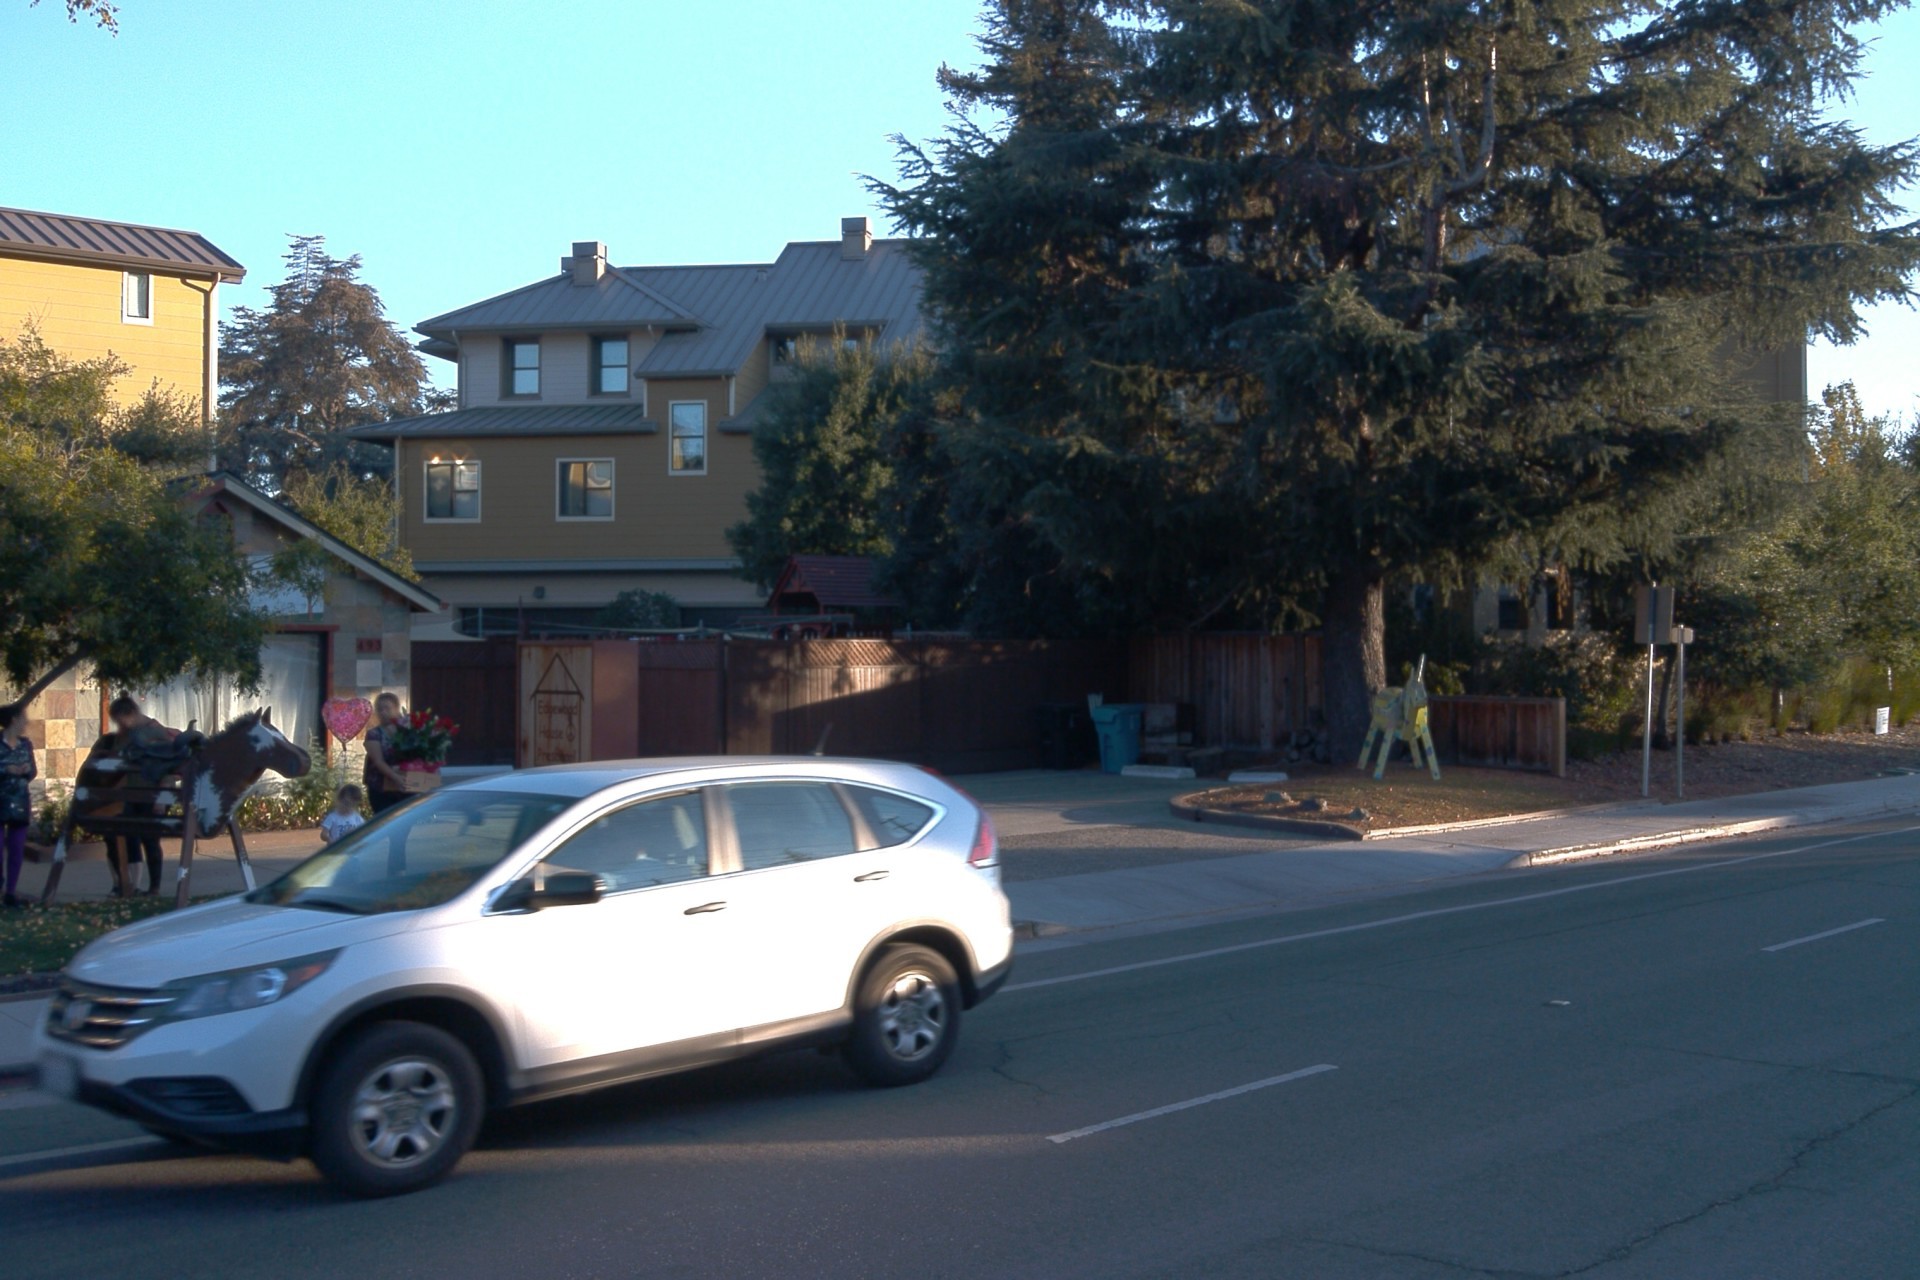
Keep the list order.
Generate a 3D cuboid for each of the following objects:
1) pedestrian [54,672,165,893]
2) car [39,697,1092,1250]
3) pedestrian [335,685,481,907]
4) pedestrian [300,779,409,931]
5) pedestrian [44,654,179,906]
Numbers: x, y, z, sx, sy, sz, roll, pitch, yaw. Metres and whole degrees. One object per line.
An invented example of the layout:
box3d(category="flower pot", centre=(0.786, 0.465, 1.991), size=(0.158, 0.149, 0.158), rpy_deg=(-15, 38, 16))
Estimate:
box3d(category="pedestrian", centre=(-7.239, 1.189, 17.678), size=(0.750, 1.810, 0.815), rpy_deg=(0, 0, -14))
box3d(category="car", centre=(-1.621, 1.274, 9.861), size=(1.922, 1.850, 4.652), rpy_deg=(0, 0, 44))
box3d(category="pedestrian", centre=(-4.296, 1.177, 16.117), size=(0.736, 1.630, 0.992), rpy_deg=(0, 0, -40))
box3d(category="pedestrian", centre=(-4.403, 1.549, 15.059), size=(0.628, 1.010, 0.633), rpy_deg=(0, 0, -30))
box3d(category="pedestrian", centre=(-6.633, 1.070, 16.249), size=(0.801, 1.900, 0.787), rpy_deg=(0, 0, -9))
